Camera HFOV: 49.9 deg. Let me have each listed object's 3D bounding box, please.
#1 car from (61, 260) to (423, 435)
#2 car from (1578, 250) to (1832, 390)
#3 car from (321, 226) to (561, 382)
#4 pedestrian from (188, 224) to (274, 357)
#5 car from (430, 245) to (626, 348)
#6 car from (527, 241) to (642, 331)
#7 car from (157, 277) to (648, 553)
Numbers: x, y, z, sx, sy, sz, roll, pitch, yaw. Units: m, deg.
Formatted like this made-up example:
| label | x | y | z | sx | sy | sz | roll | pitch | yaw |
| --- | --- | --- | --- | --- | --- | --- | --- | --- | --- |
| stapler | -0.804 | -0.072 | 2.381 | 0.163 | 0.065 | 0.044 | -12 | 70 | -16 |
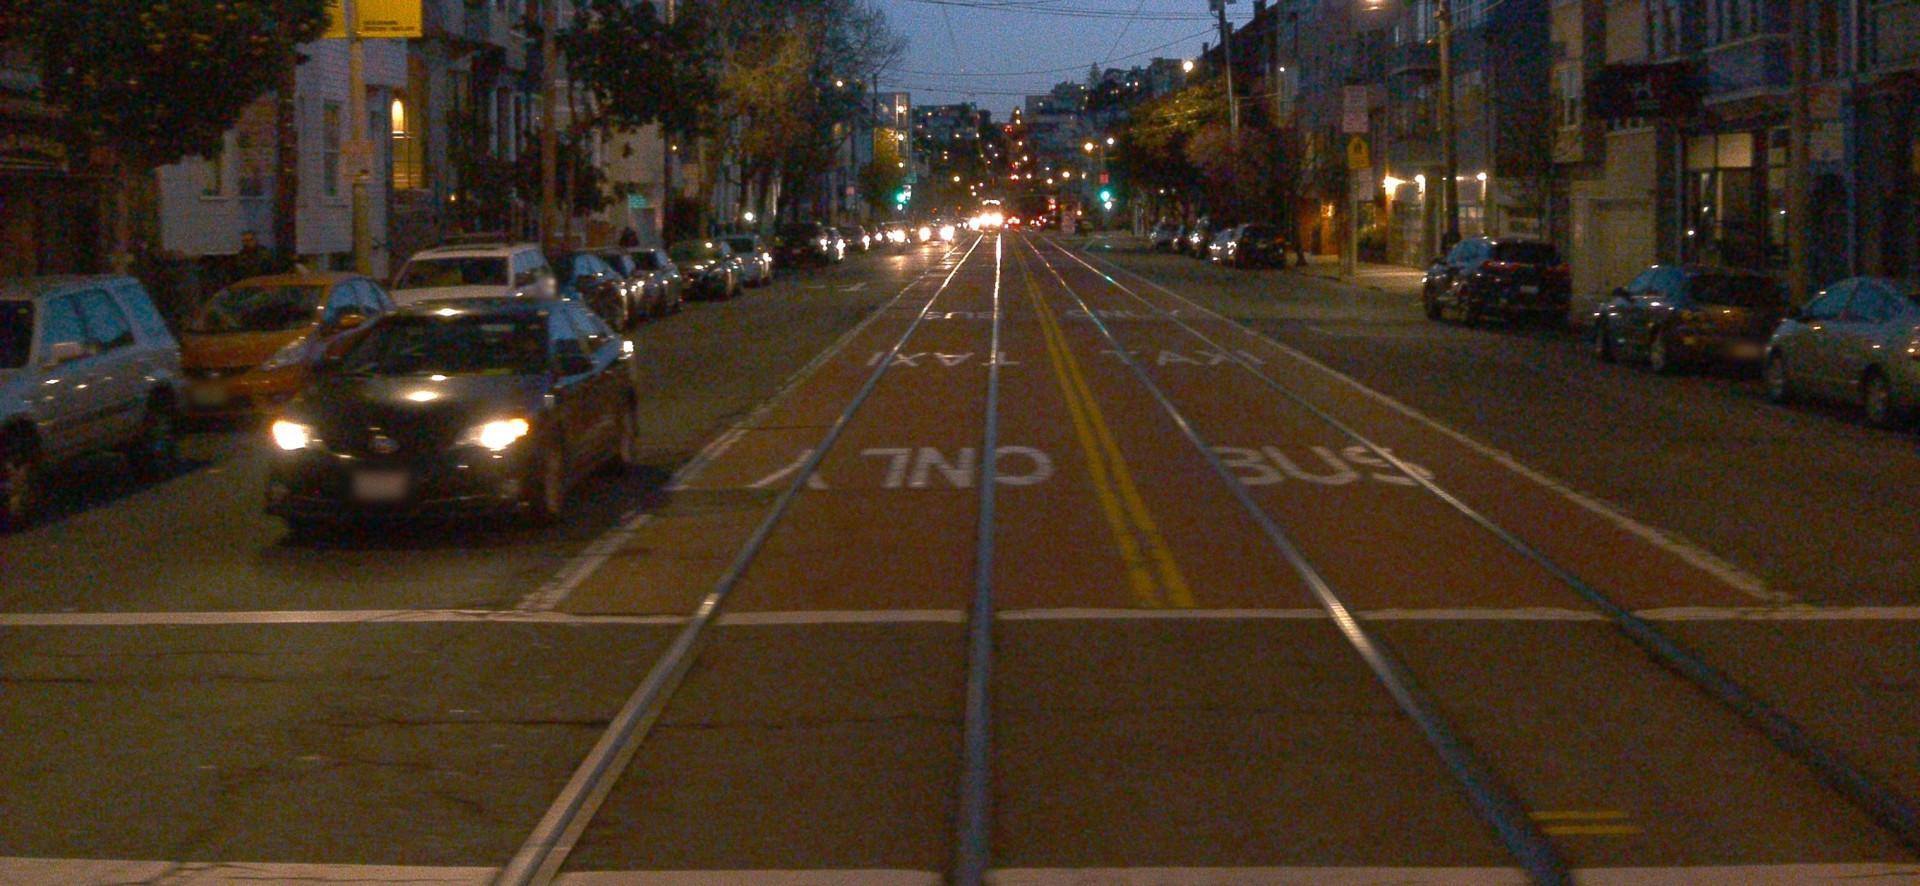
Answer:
| label | x | y | z | sx | sy | sz | roll | pitch | yaw |
| --- | --- | --- | --- | --- | --- | --- | --- | --- | --- |
| car | -7.476 | -1.110 | 22.024 | 2.145 | 1.551 | 4.433 | 0 | 6 | 3 |
| car | 9.944 | -1.738 | 27.897 | 2.030 | 1.641 | 4.207 | 0 | 6 | 2 |
| car | -7.016 | -2.013 | 28.464 | 2.112 | 1.890 | 4.939 | 0 | 6 | -1 |
| pedestrian | -10.374 | -2.181 | 29.370 | 0.869 | 1.857 | 0.857 | 0 | 2 | 2 |
| car | -7.019 | -2.470 | 33.996 | 1.992 | 1.462 | 4.649 | 0 | 6 | 3 |
| car | -6.964 | -2.972 | 38.542 | 1.694 | 1.512 | 3.595 | -1 | 6 | -4 |
| car | -3.798 | -0.366 | 15.106 | 2.099 | 1.511 | 4.889 | 0 | 6 | 2 |
